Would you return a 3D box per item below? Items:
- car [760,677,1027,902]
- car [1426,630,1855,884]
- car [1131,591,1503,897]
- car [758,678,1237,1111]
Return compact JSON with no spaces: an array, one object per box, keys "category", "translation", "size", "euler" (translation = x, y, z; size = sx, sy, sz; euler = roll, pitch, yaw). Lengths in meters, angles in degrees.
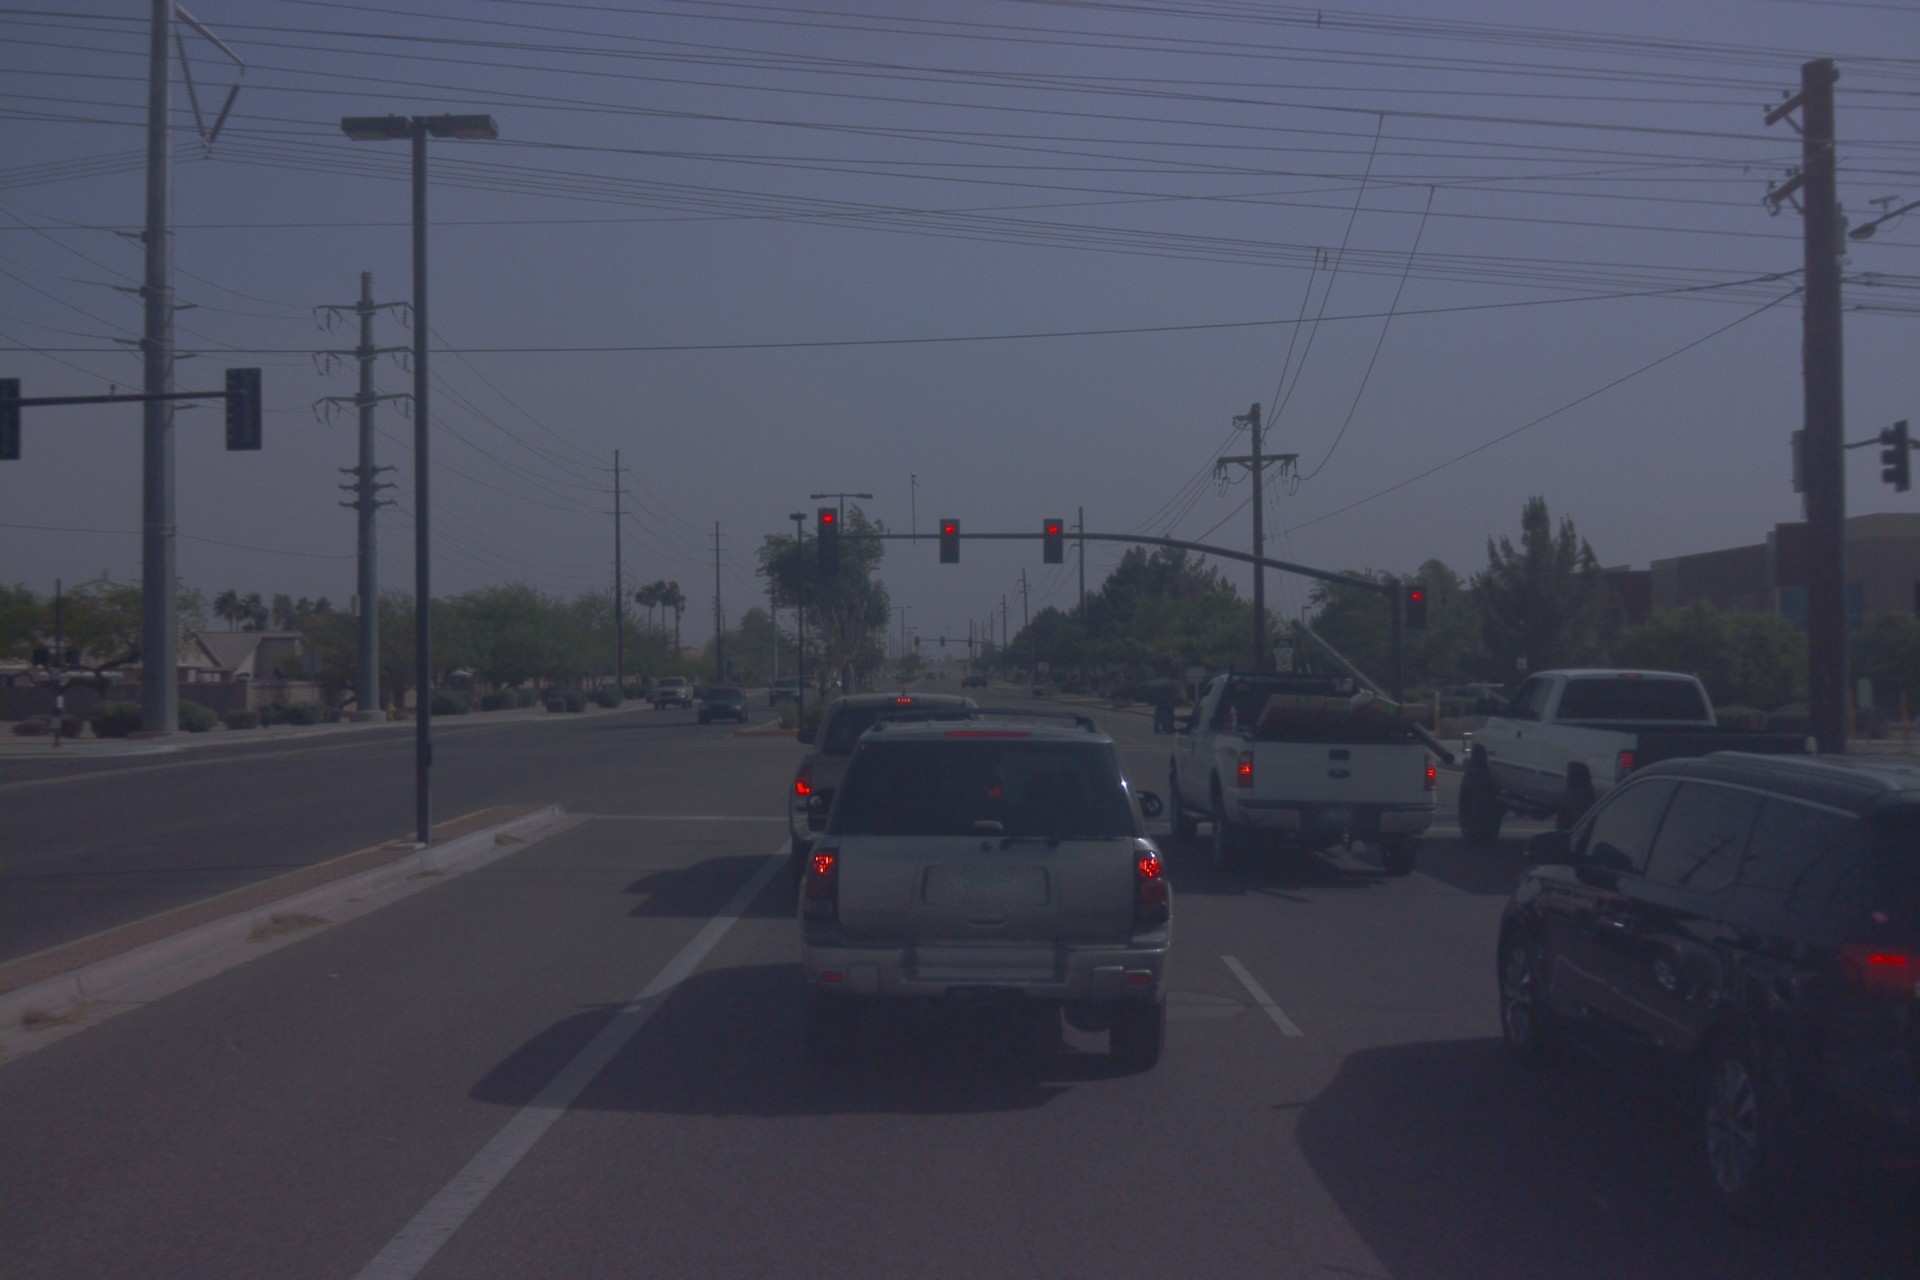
[{"category":"car","translation":[-0.535,1.254,19.054],"size":[2.149,1.780,4.304],"euler":[0,-1,0]},{"category":"car","translation":[7.083,1.131,22.680],"size":[2.415,2.350,6.497],"euler":[0,-1,-1]},{"category":"car","translation":[3.464,0.971,21.944],"size":[2.664,2.710,6.759],"euler":[0,-1,-1]},{"category":"car","translation":[0.156,1.220,11.968],"size":[2.201,1.960,4.684],"euler":[0,-1,0]}]
